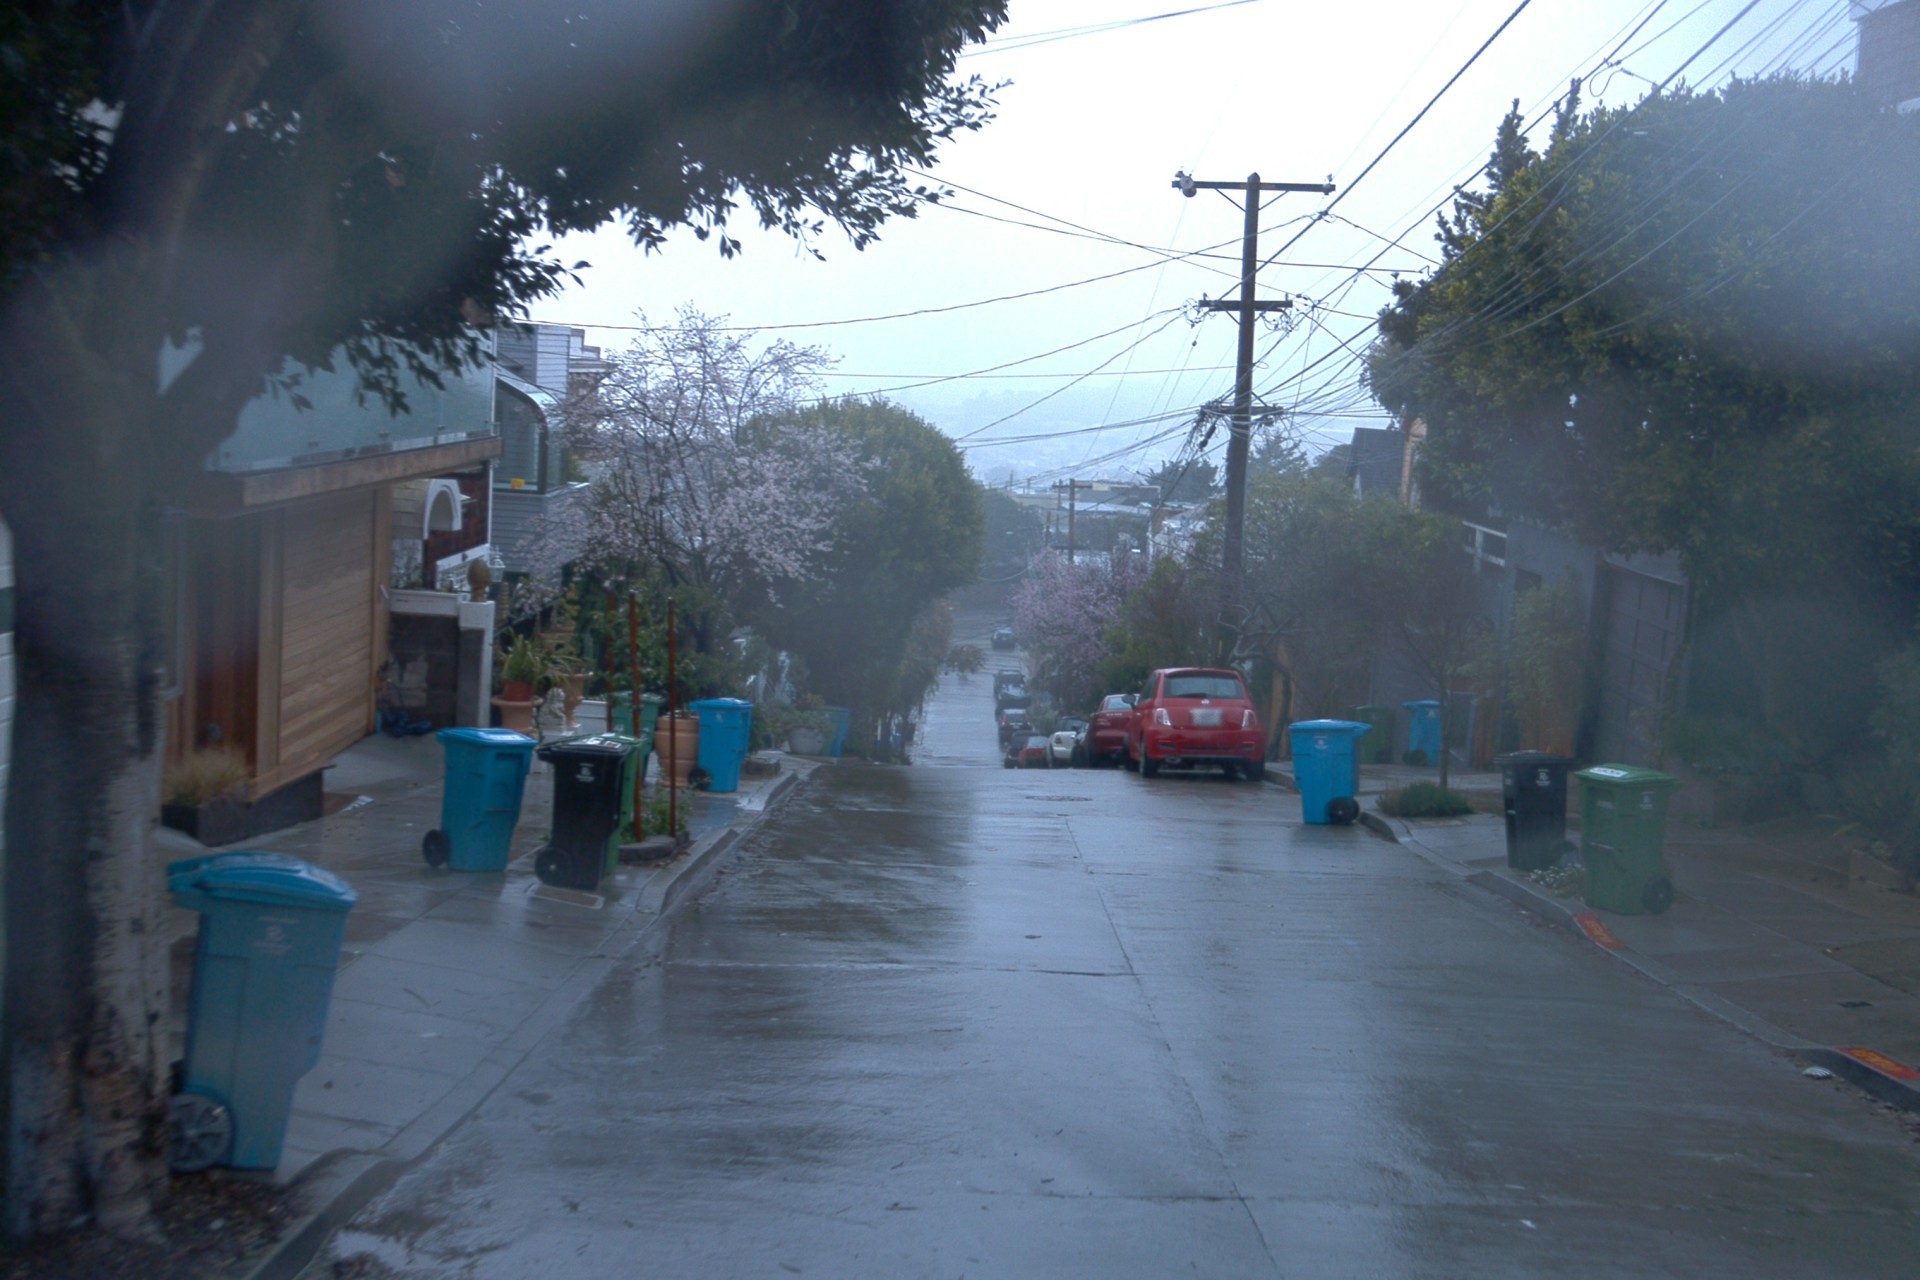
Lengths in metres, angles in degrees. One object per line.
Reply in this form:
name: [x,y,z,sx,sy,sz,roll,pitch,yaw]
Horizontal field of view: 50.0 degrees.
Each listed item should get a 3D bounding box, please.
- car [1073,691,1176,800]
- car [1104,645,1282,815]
car: [2.654,1.684,33.655,1.423,1.595,2.849,1,0,0]
car: [3.145,1.169,28.504,1.893,2.118,3.865,1,0,-1]
